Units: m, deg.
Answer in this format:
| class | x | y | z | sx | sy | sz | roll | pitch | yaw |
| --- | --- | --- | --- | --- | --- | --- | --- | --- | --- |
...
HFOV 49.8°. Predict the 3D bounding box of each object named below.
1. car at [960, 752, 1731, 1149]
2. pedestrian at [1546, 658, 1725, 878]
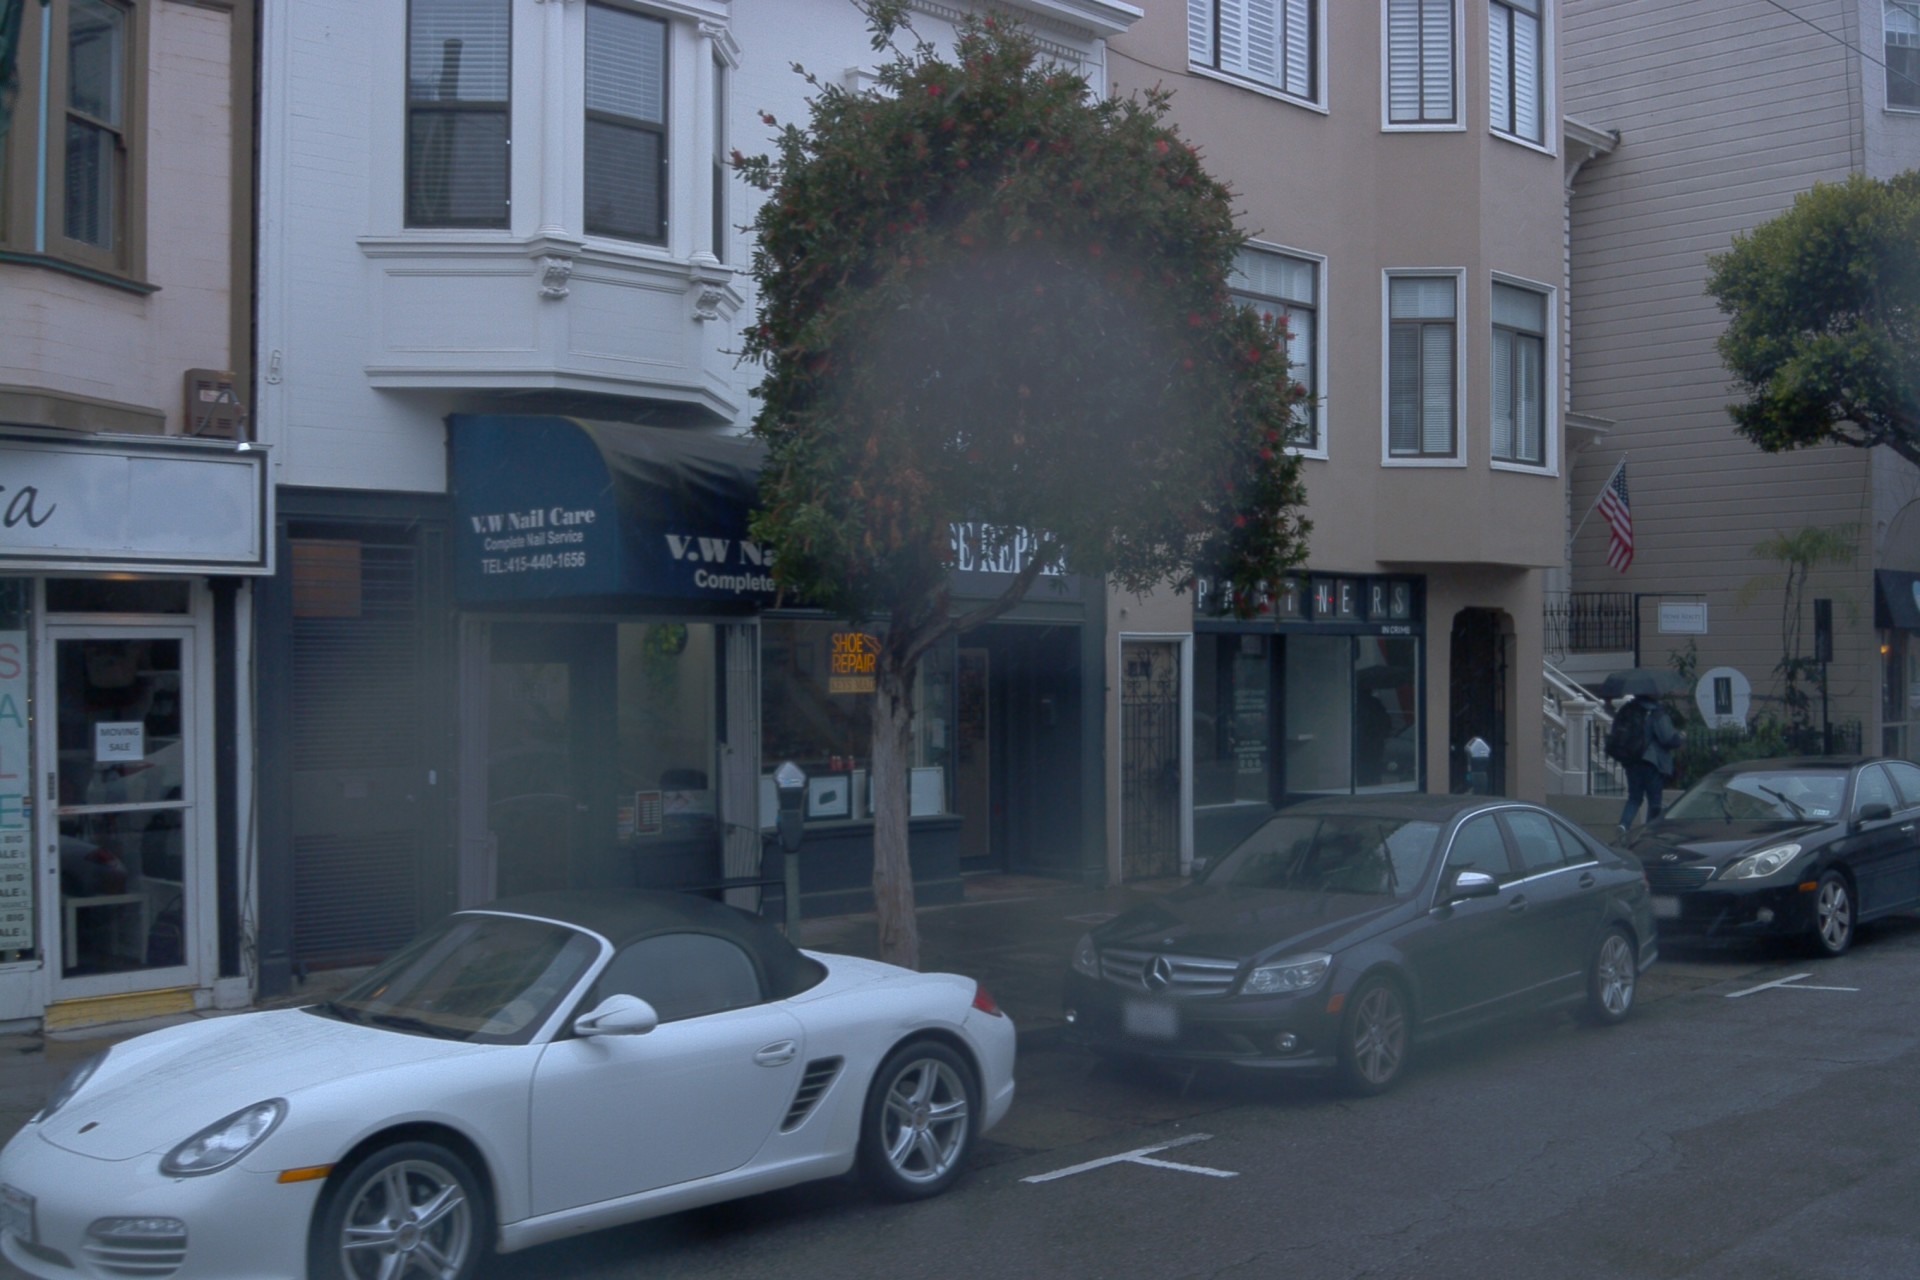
| class | x | y | z | sx | sy | sz | roll | pitch | yaw |
| --- | --- | --- | --- | --- | --- | --- | --- | --- | --- |
| car | 2.444 | 1.549 | 11.966 | 2.143 | 1.490 | 4.943 | 2 | 1 | 41 |
| pedestrian | 6.951 | 1.264 | 21.257 | 1.167 | 2.120 | 1.522 | 2 | 1 | 44 |
